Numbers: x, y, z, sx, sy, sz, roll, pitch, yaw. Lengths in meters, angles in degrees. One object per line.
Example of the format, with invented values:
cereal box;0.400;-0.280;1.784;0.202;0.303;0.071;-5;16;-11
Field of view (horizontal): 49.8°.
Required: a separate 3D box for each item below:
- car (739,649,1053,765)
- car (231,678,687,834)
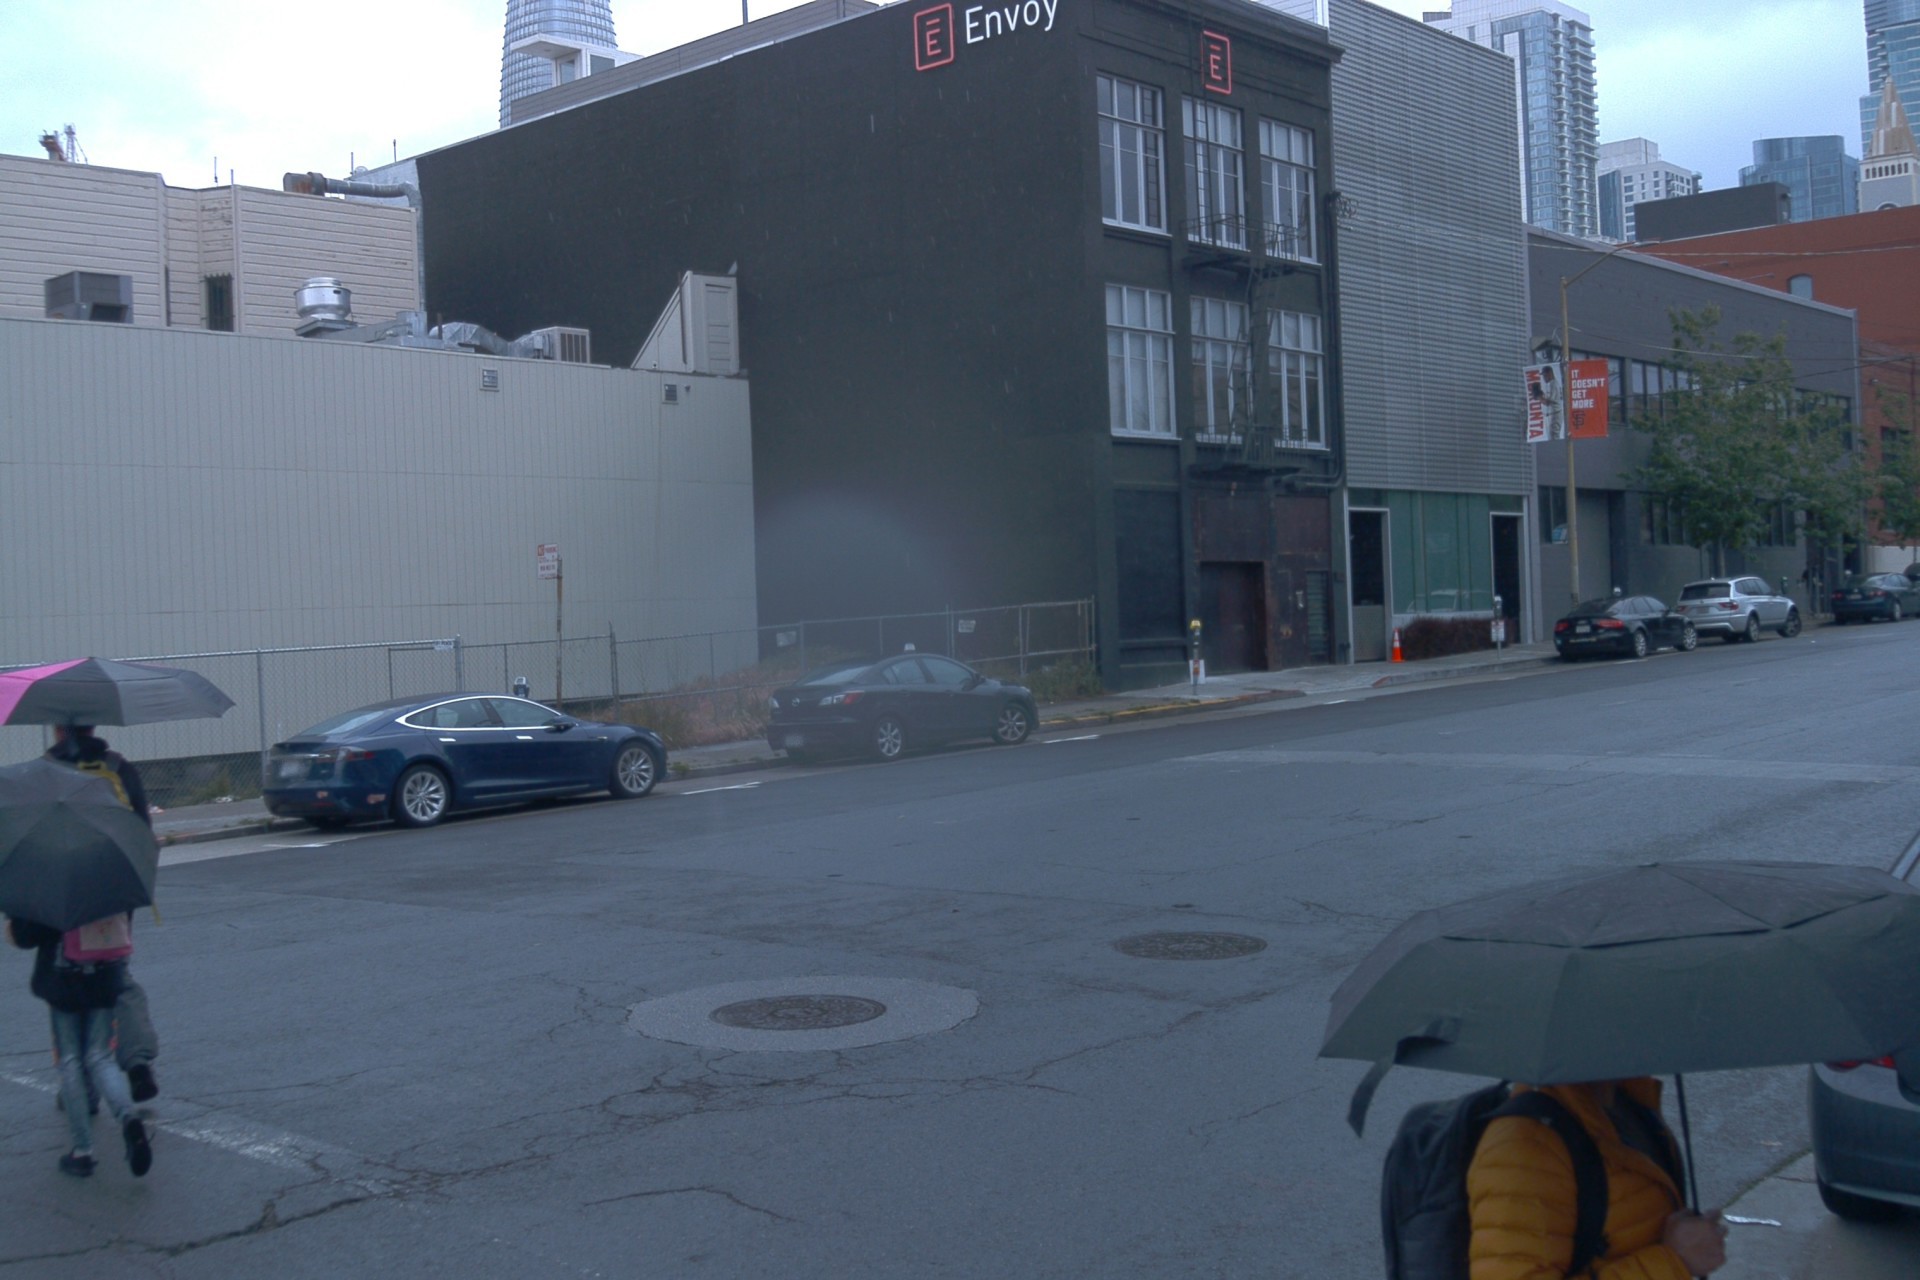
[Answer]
car;-0.820;0.896;29.037;2.005;1.500;4.289;0;-1;41
car;-5.570;1.221;23.533;2.011;1.550;4.768;0;-1;40
